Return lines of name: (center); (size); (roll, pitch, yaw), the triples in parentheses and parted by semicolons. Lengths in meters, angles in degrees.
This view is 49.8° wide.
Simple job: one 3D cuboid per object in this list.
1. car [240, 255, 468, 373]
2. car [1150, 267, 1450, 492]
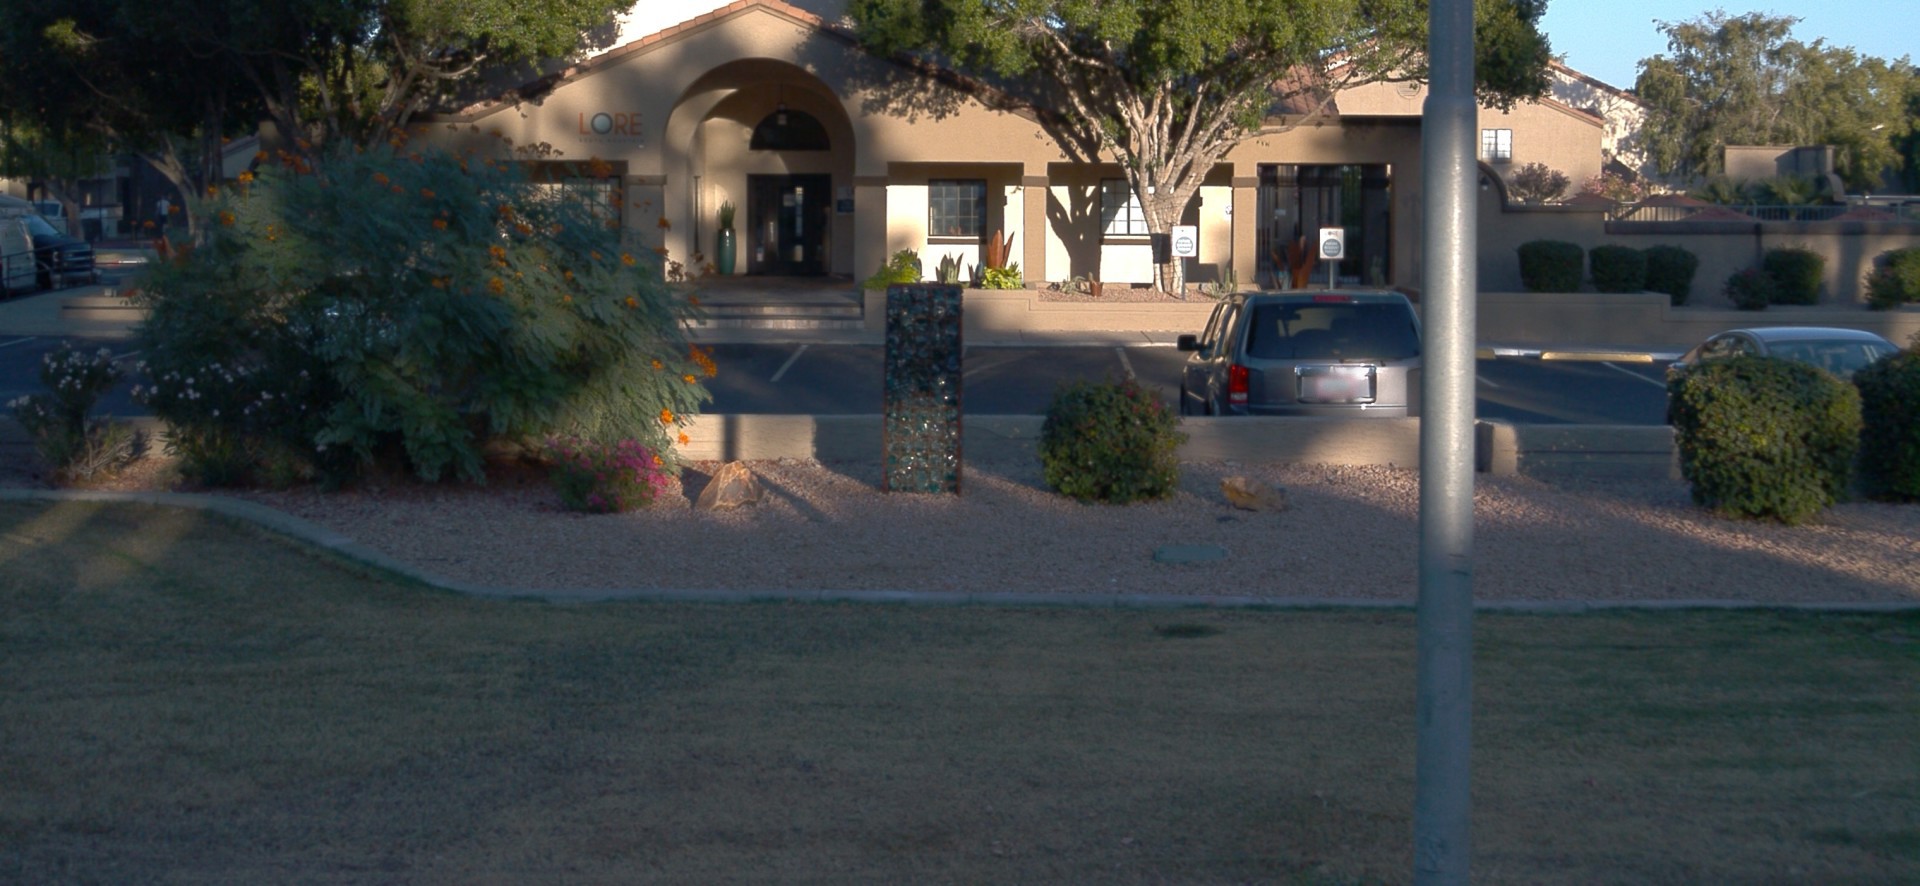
car: (-9.167, -2.051, 31.761); (2.100, 1.624, 4.626); (0, 5, 0)
car: (3.021, -0.738, 19.505); (2.235, 1.753, 5.056); (0, 5, 3)
